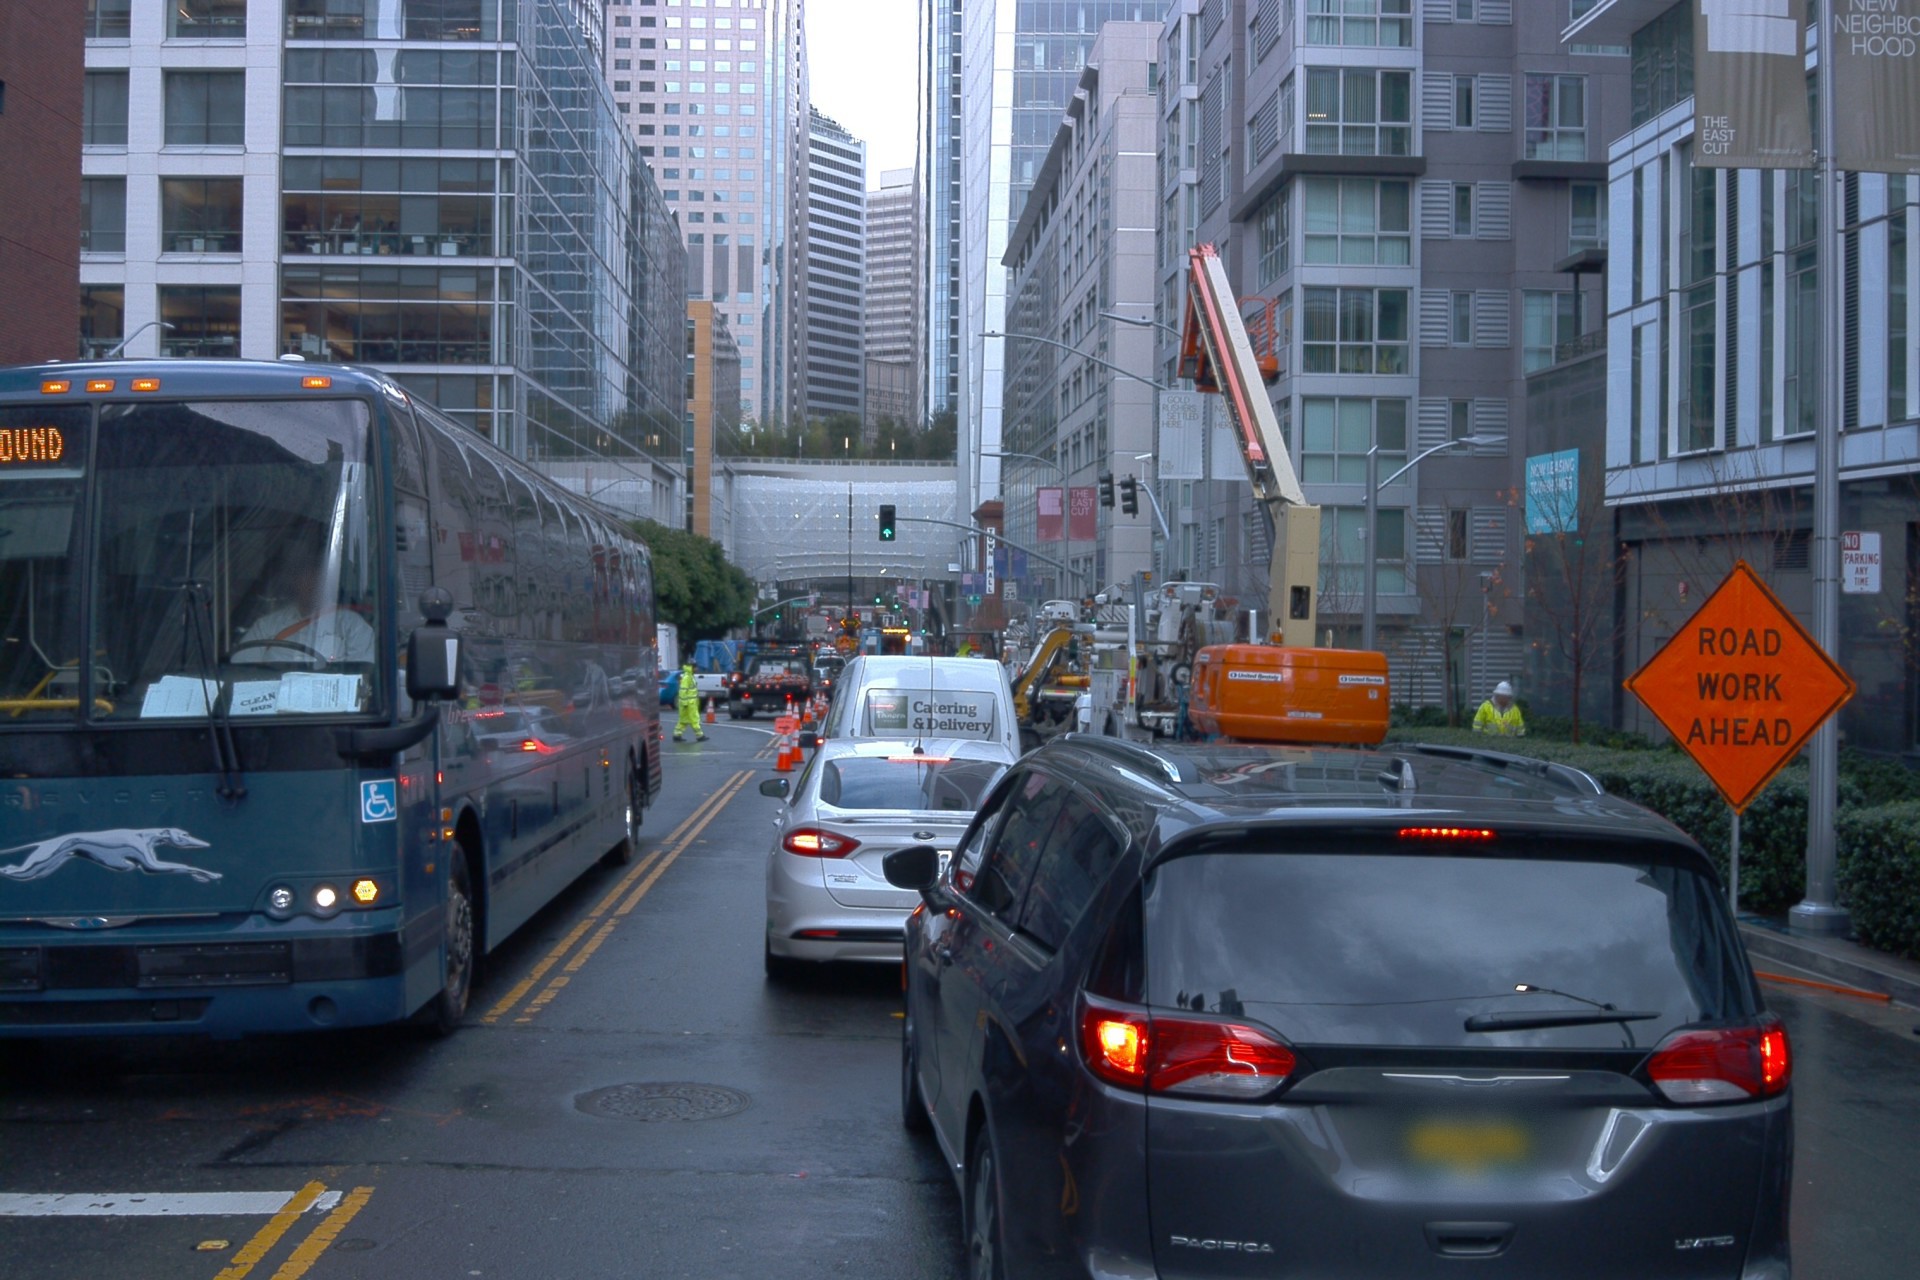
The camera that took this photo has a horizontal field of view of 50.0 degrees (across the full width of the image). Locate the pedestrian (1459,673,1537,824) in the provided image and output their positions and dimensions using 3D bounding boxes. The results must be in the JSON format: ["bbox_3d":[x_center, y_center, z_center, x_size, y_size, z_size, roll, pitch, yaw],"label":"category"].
[{"bbox_3d":[7.079,1.423,27.150,0.821,1.949,0.618,1,0,-2],"label":"pedestrian"}]

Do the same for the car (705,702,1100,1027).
[{"bbox_3d":[-0.377,1.315,13.826,2.164,1.580,4.901,1,1,-1],"label":"car"}]

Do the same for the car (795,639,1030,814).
[{"bbox_3d":[-0.540,0.751,19.507,1.860,1.470,3.431,1,1,-7],"label":"car"}]

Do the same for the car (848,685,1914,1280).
[{"bbox_3d":[0.803,1.111,6.811,2.058,1.750,4.787,1,1,-6],"label":"car"}]
